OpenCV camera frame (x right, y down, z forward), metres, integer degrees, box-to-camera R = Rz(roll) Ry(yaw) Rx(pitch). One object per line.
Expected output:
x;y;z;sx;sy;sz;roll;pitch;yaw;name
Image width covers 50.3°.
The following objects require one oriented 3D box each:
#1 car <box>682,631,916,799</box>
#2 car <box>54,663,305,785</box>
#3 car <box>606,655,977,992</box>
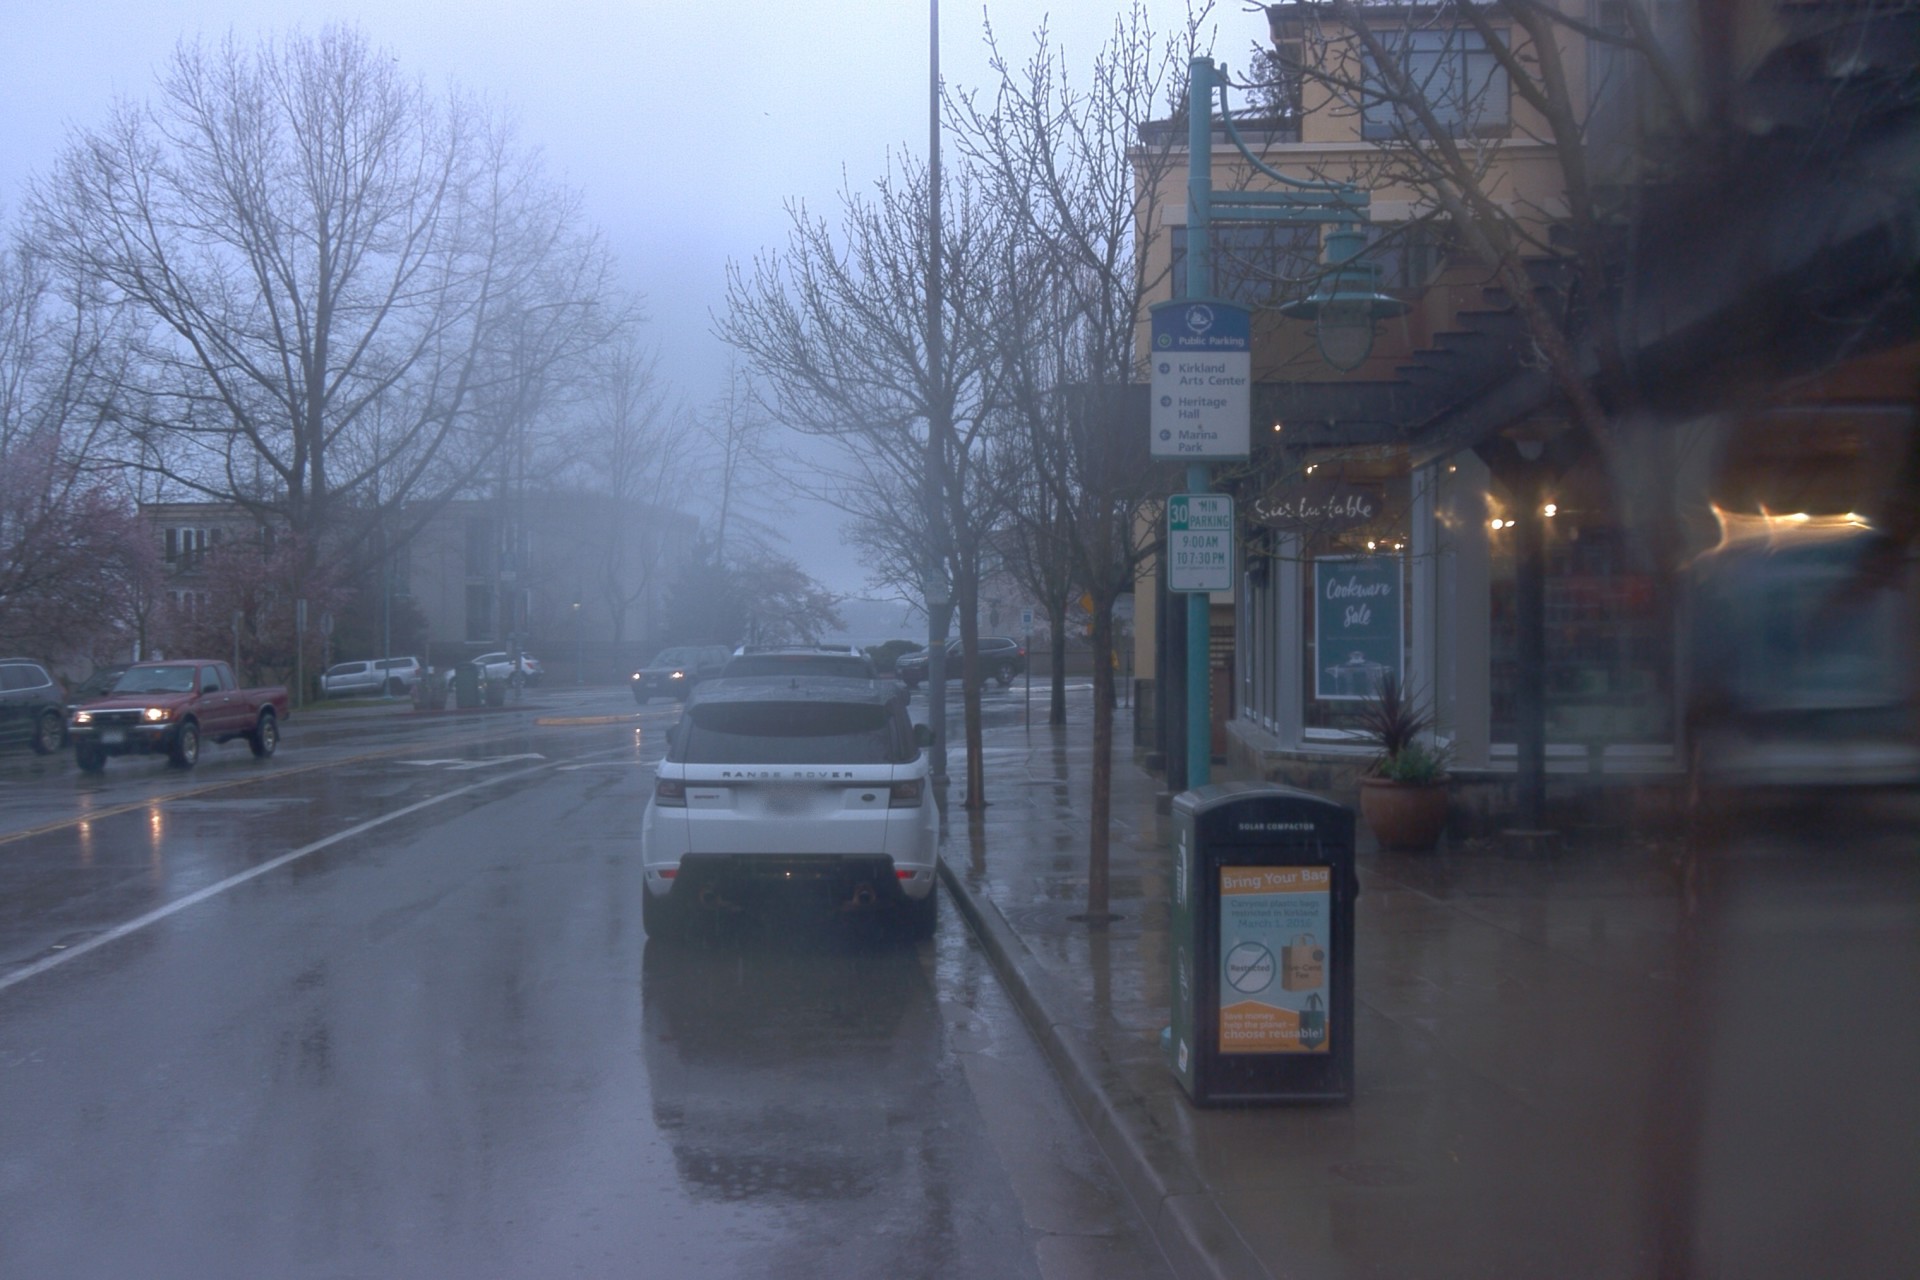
-1.755;0.706;22.079;2.210;1.560;5.097;1;0;-5;car
-12.762;1.311;33.829;1.932;1.750;5.179;1;0;3;car
-1.263;1.168;15.263;2.265;2.000;5.124;1;0;-5;car
